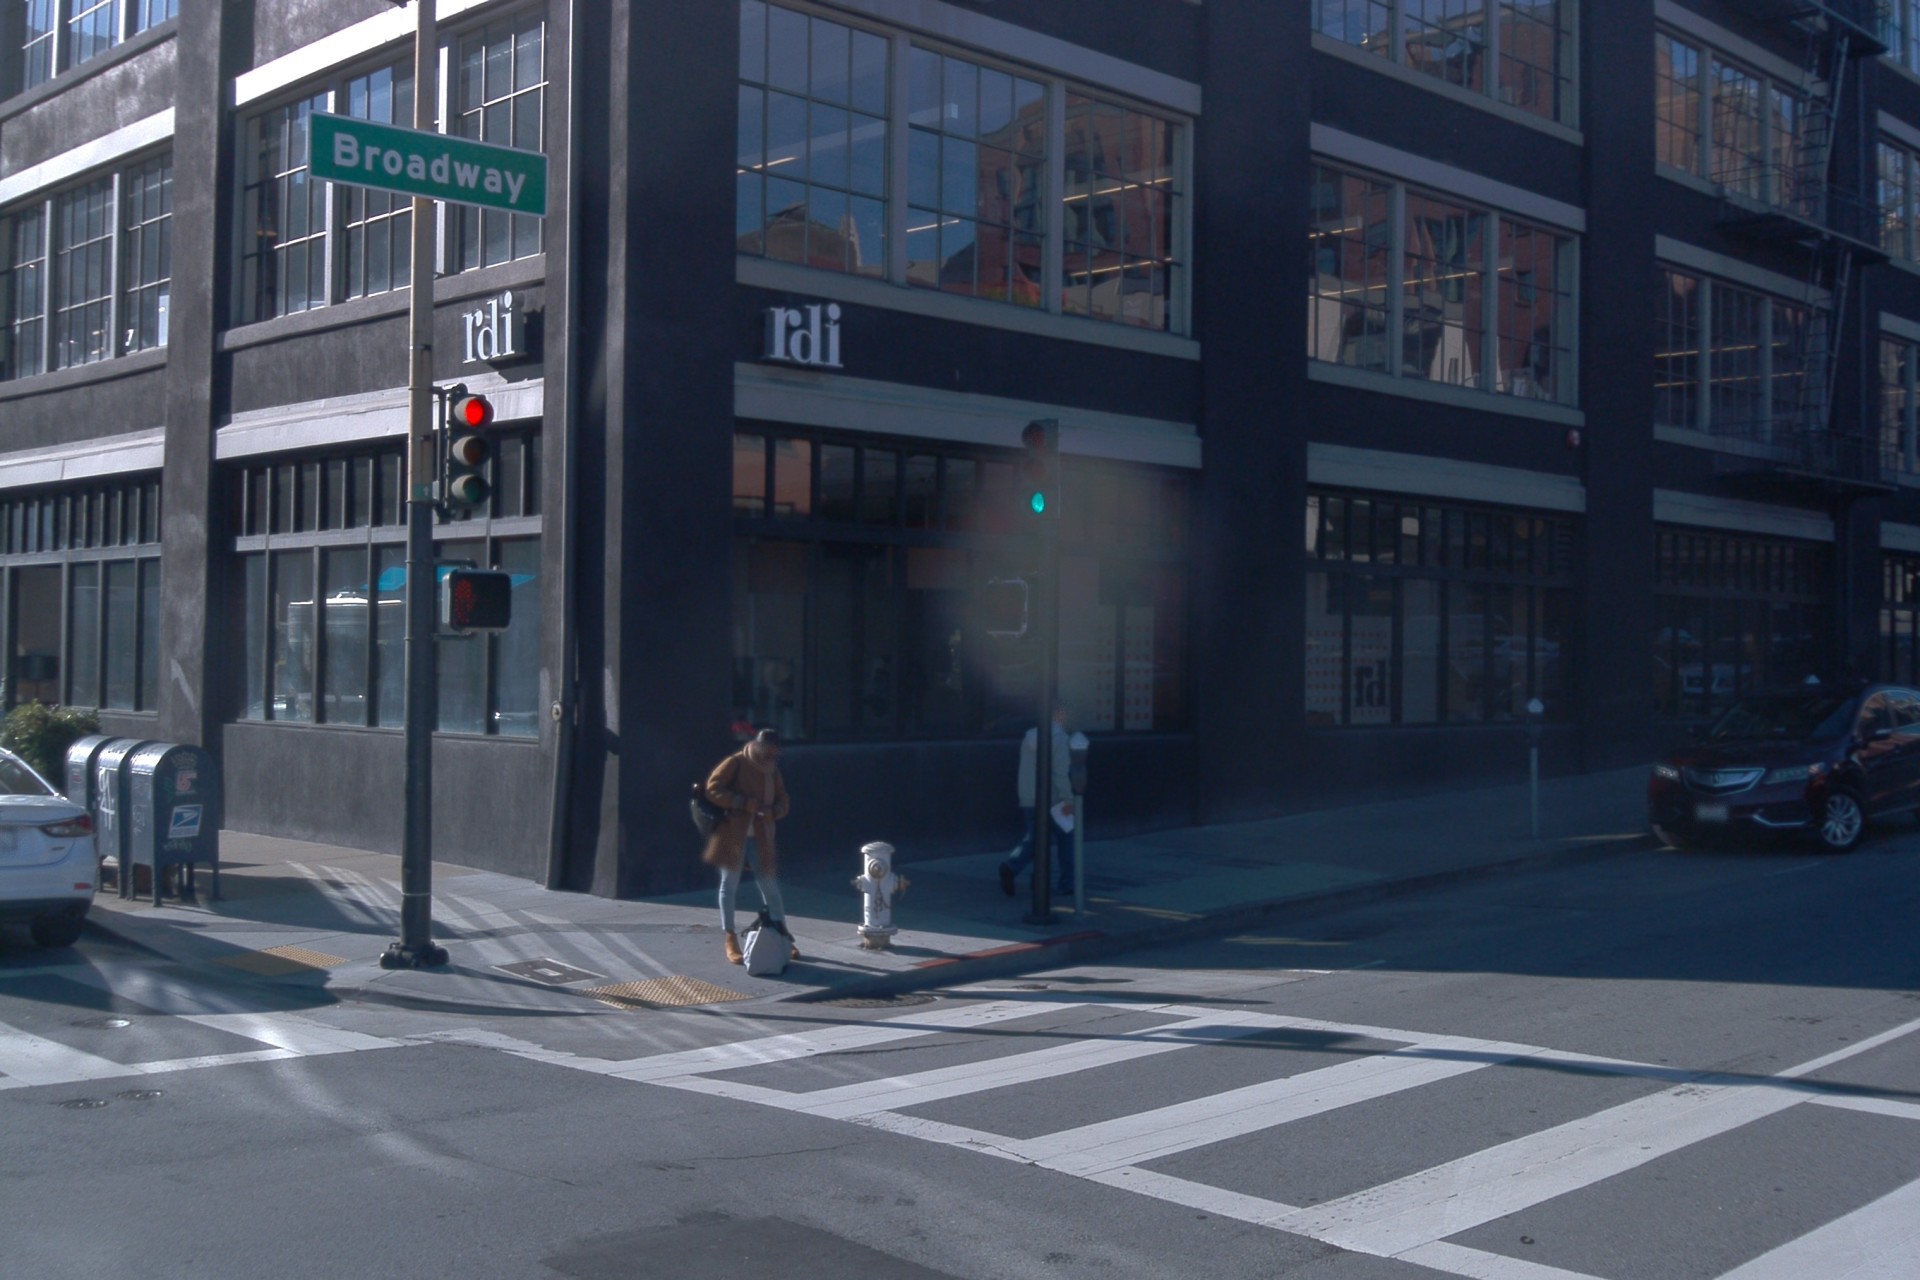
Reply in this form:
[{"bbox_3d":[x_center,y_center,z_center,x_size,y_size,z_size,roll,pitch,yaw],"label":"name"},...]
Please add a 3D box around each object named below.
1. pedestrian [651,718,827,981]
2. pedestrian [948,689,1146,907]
[{"bbox_3d":[-1.523,1.389,14.182,0.985,1.680,1.012,1,-1,-19],"label":"pedestrian"},{"bbox_3d":[0.721,1.256,17.116,1.039,1.690,1.254,0,-1,44],"label":"pedestrian"}]
